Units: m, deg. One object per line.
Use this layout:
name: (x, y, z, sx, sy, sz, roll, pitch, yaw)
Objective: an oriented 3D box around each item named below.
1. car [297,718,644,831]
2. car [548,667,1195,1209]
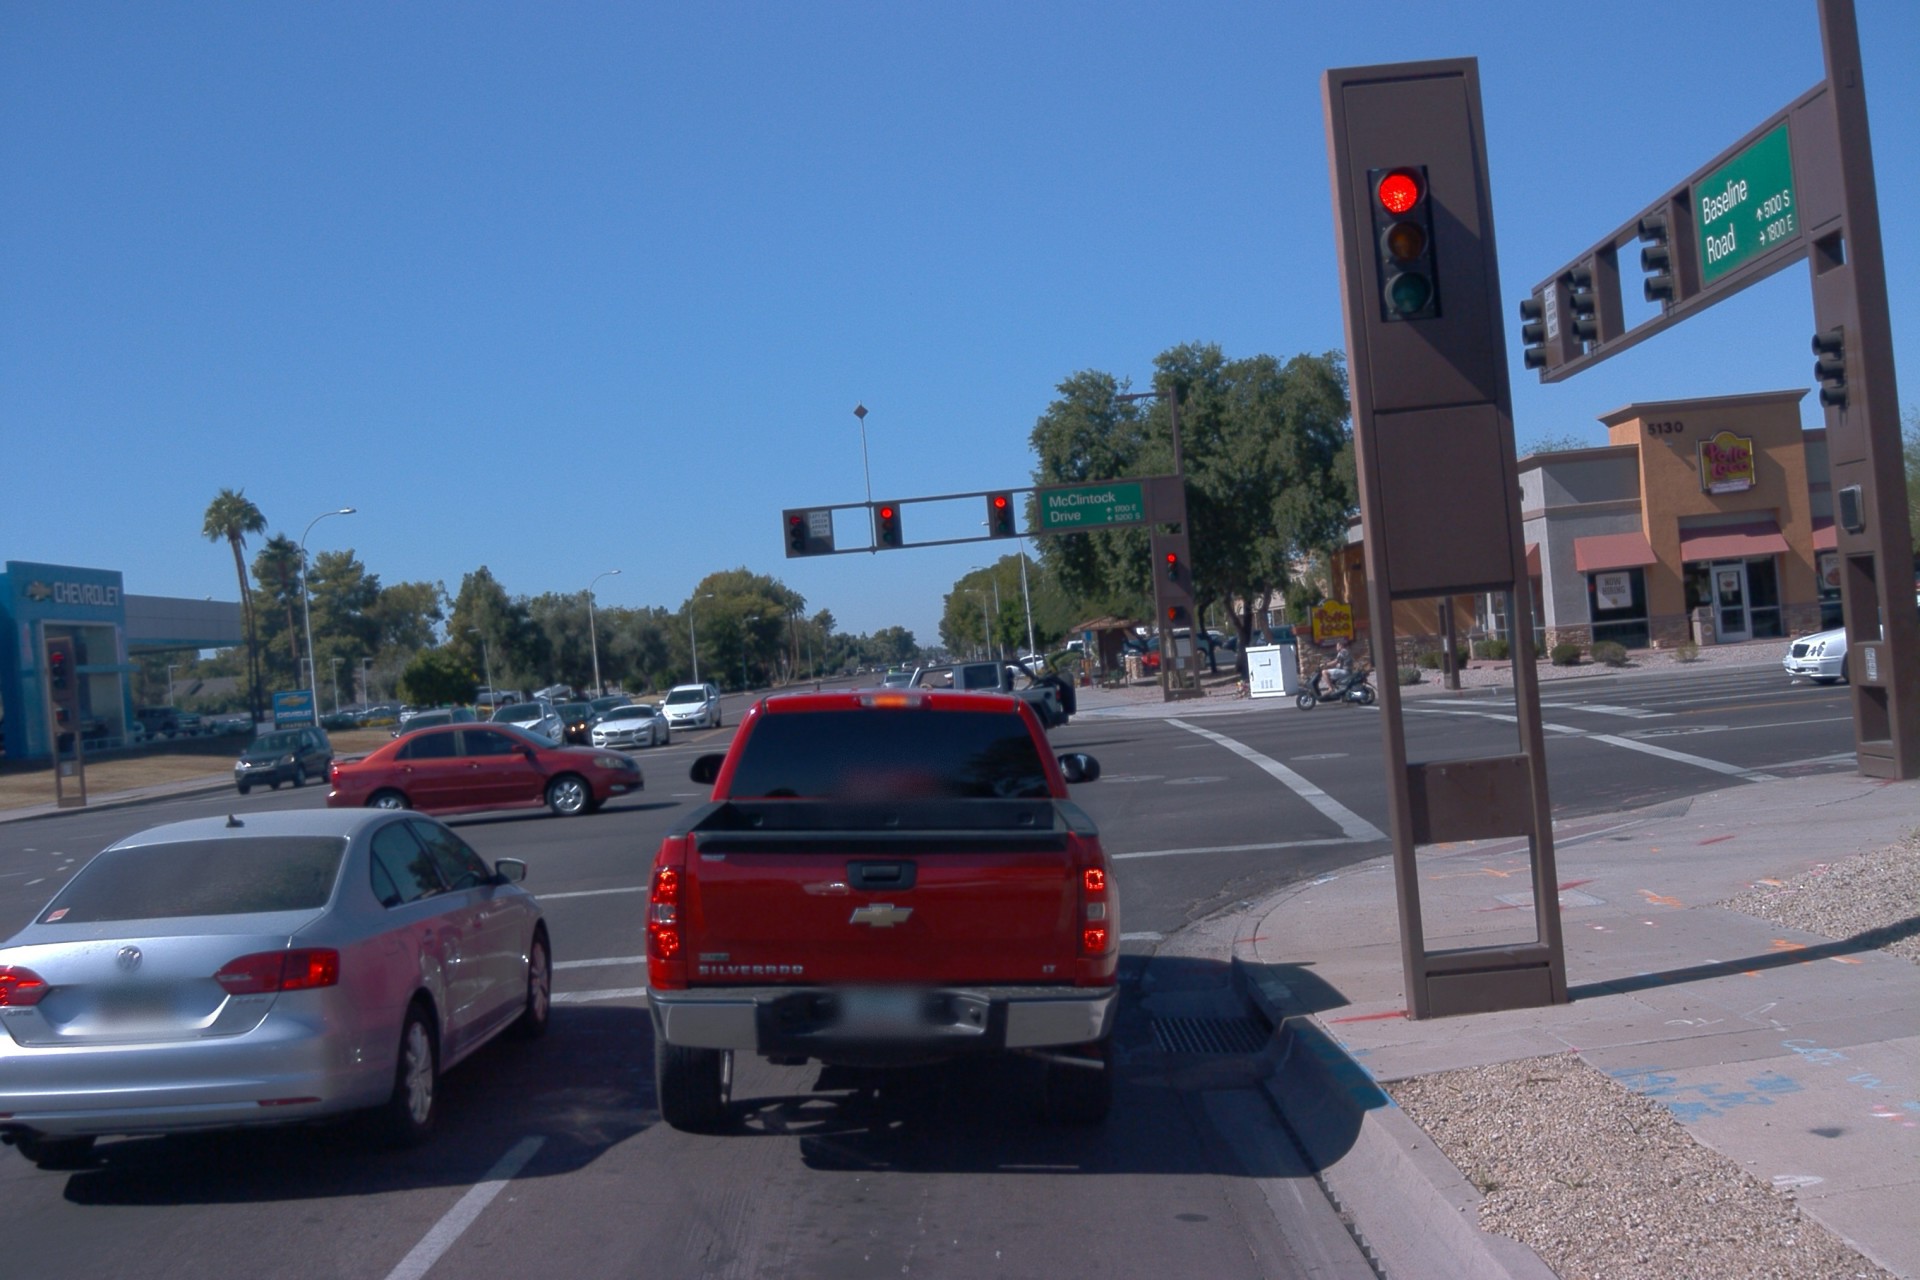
car: (-7.010, 1.924, 30.167, 4.561, 1.500, 1.879, 1, -1, 1)
car: (-0.382, 1.221, 11.121, 2.538, 2.120, 5.758, 1, -1, -1)
